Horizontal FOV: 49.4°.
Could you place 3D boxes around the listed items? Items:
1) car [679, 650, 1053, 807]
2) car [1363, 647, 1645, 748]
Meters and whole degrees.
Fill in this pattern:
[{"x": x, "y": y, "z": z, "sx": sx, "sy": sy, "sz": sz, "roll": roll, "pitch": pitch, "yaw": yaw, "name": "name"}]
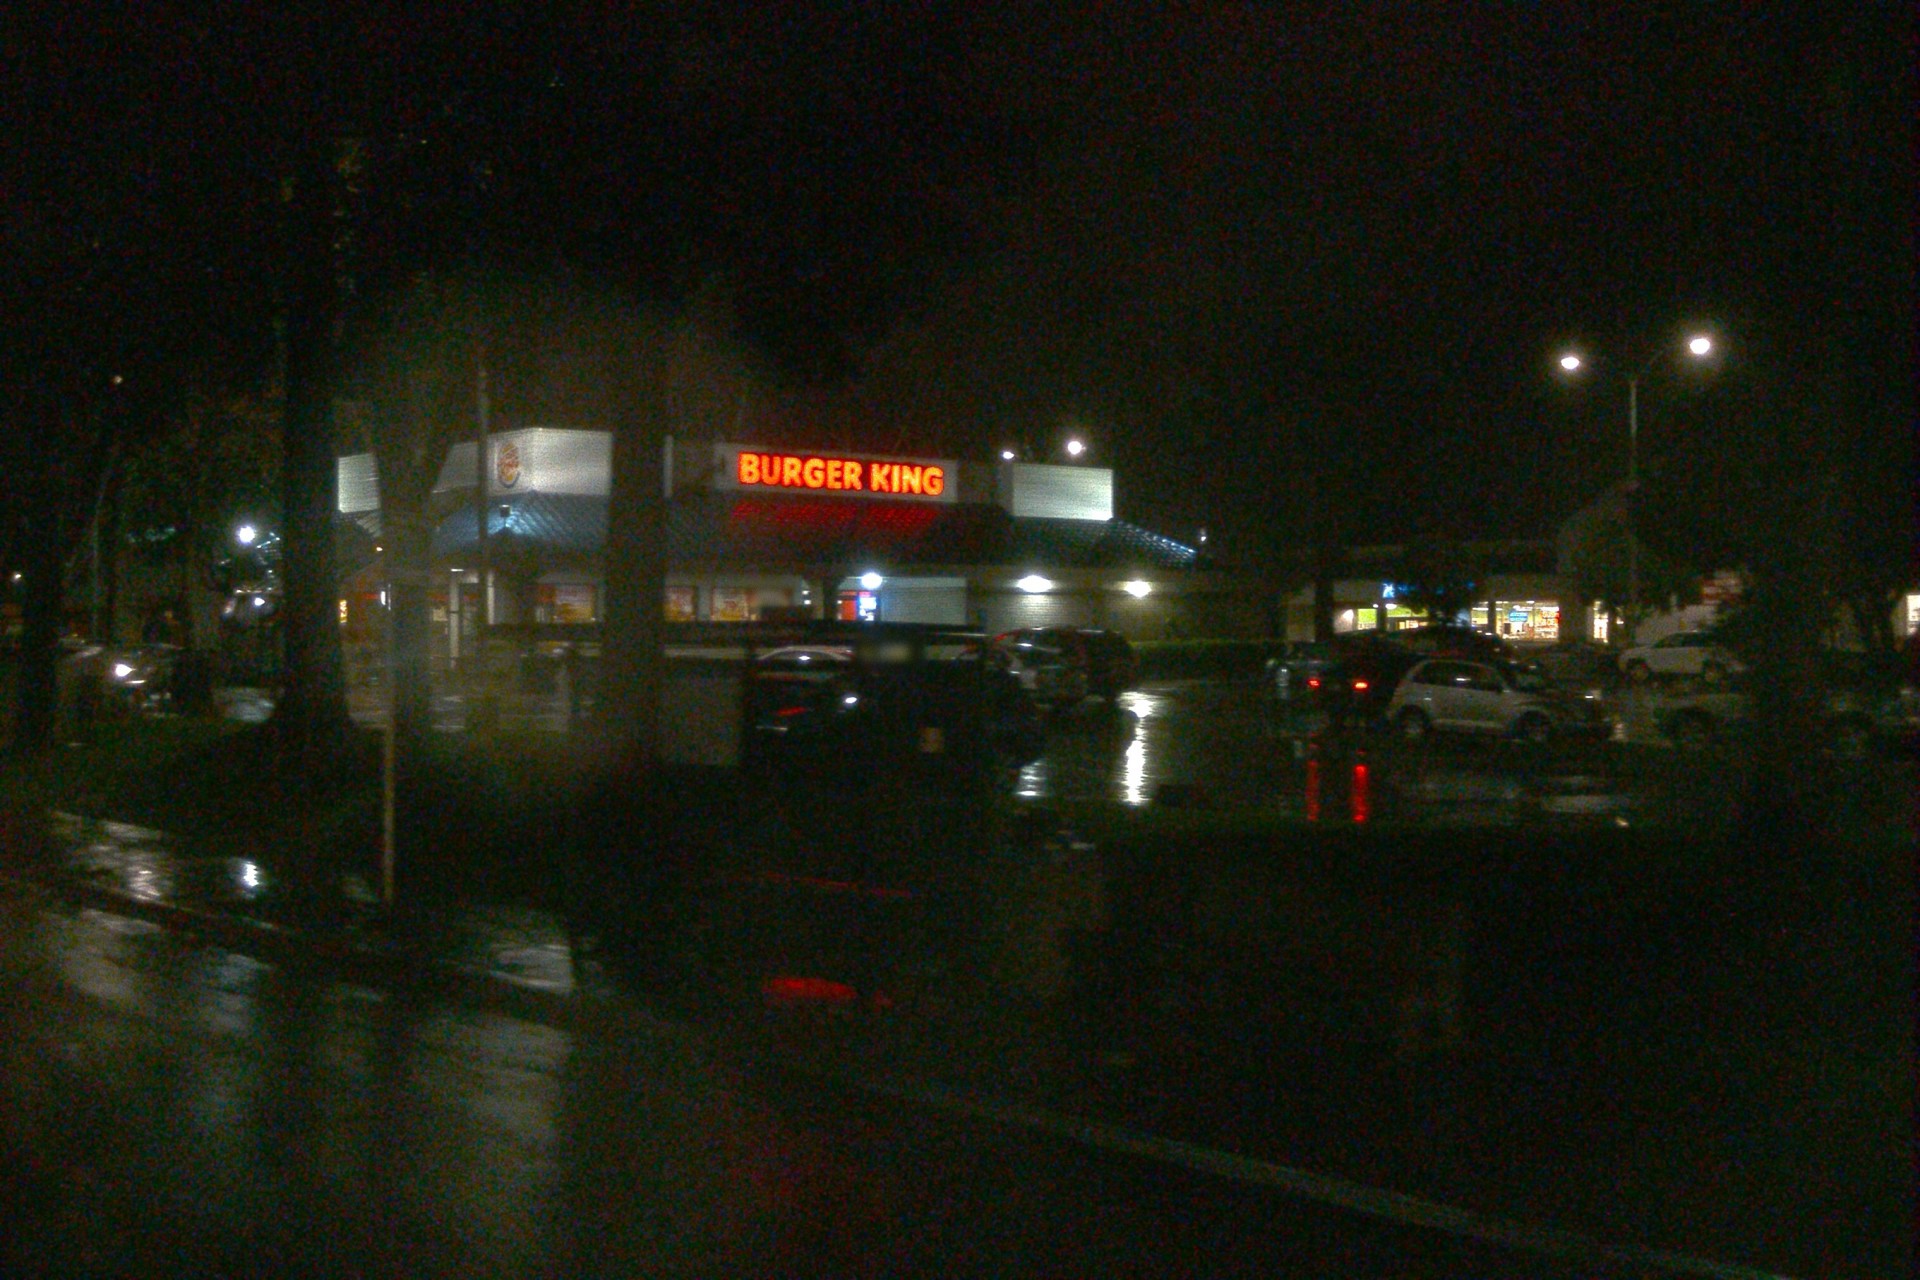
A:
[{"x": -1.136, "y": 1.097, "z": 26.796, "sx": 4.454, "sy": 1.830, "sz": 2.129, "roll": 2, "pitch": -1, "yaw": -44, "name": "car"}, {"x": 9.622, "y": 0.985, "z": 37.226, "sx": 1.978, "sy": 1.650, "sz": 4.535, "roll": 2, "pitch": -1, "yaw": -39, "name": "car"}]
